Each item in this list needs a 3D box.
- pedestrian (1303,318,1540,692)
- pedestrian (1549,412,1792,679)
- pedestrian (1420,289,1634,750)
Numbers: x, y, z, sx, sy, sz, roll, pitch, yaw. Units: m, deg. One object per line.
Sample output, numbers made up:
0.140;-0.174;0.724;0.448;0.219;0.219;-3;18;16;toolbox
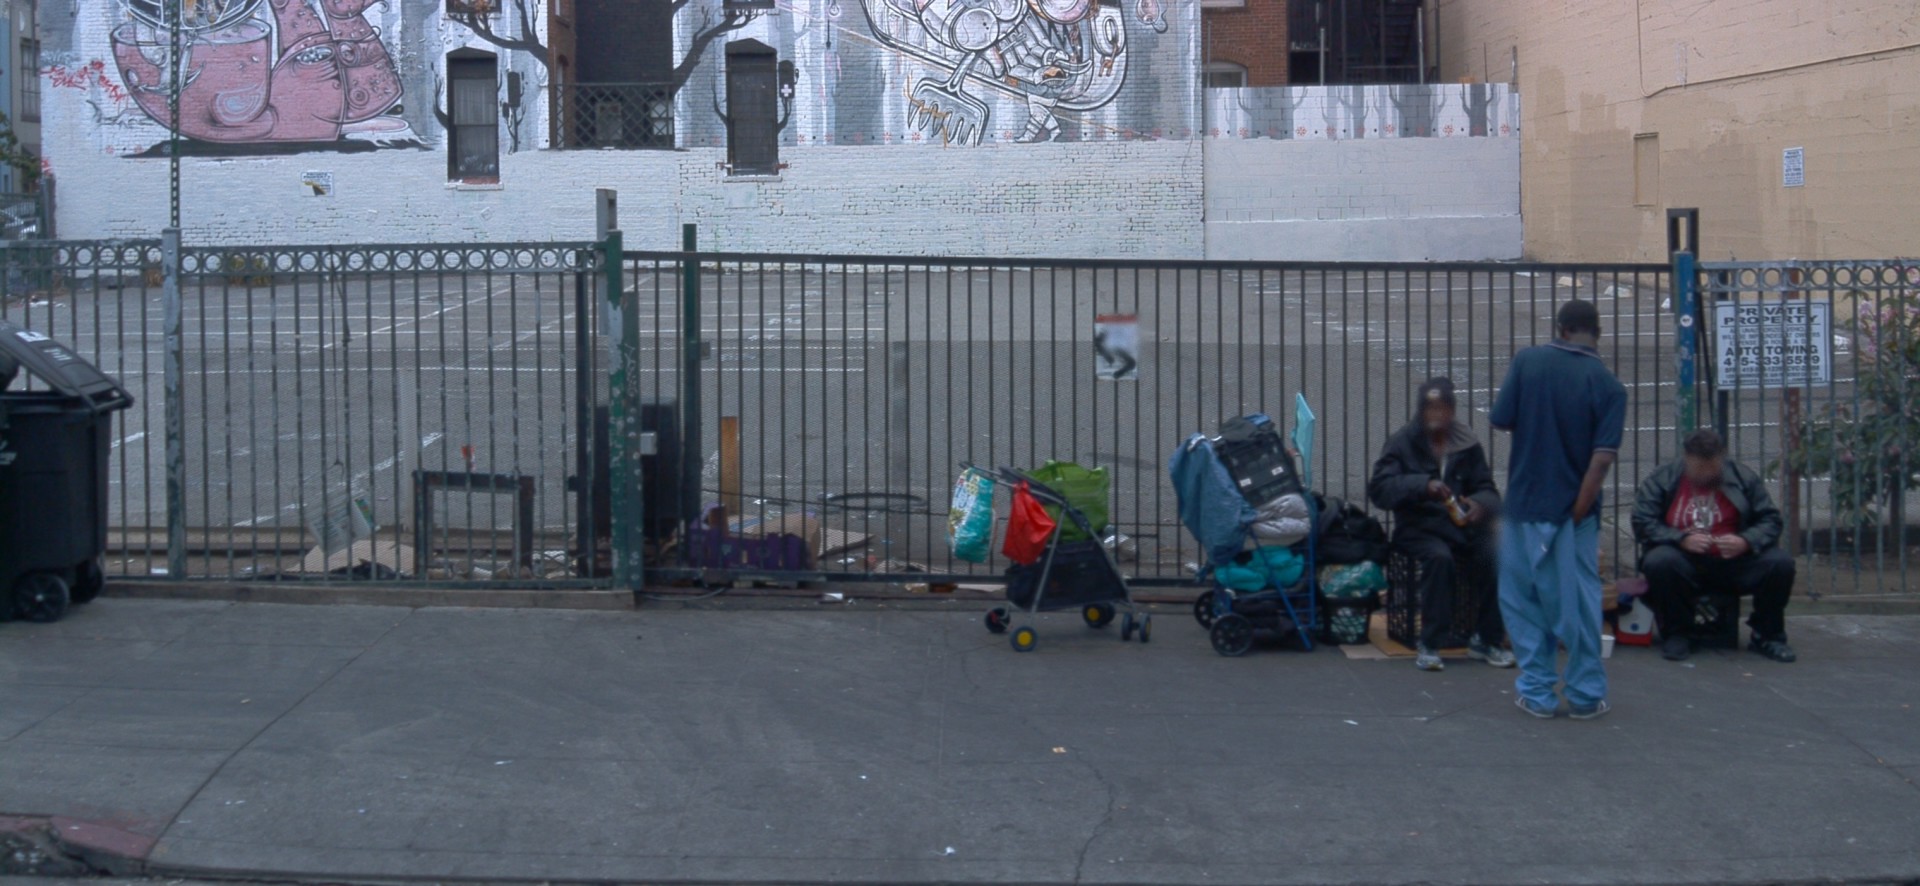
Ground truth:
2.150;0.252;9.706;0.935;1.637;0.905;0;2;2;pedestrian
3.410;0.465;9.960;0.876;1.137;0.973;0;3;3;pedestrian
2.406;0.255;8.754;0.816;1.777;1.112;1;3;16;pedestrian
